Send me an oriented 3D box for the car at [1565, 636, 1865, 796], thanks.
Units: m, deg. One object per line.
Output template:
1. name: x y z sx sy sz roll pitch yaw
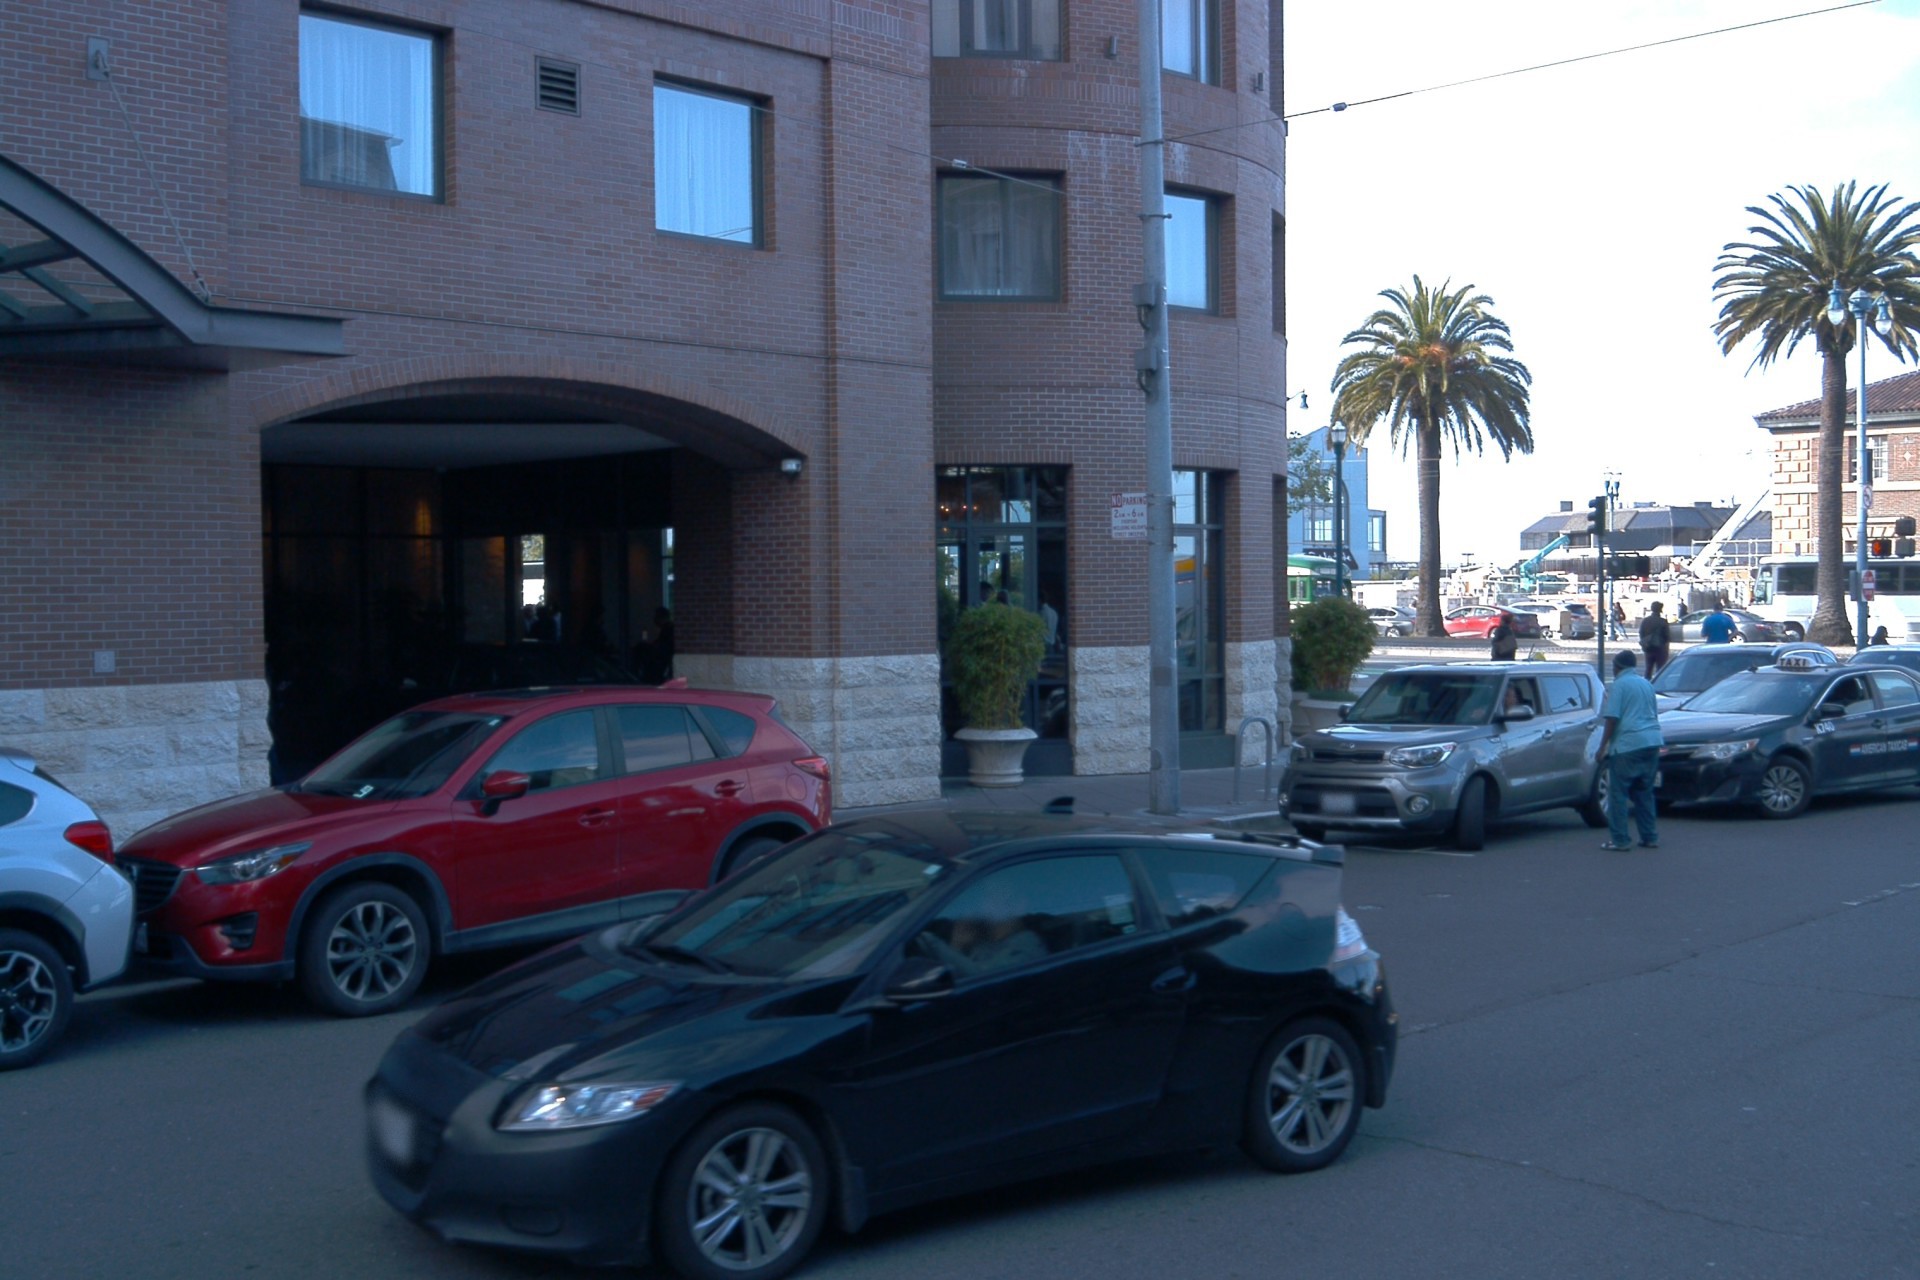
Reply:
1. car: 9.049 0.829 24.598 4.036 1.705 1.634 -1 1 -41

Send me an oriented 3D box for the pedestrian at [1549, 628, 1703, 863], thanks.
1. pedestrian: 5.712 0.880 17.743 0.932 1.950 0.907 0 1 -13

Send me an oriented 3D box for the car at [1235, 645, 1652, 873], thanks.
1. car: 4.558 0.979 19.067 2.002 1.787 4.174 1 1 41

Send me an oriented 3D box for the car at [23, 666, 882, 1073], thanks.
1. car: -2.829 1.129 12.223 2.120 1.830 4.483 1 1 45

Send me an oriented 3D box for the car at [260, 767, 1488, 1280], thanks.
1. car: -0.217 1.326 7.529 4.036 1.430 1.981 -1 1 -34
